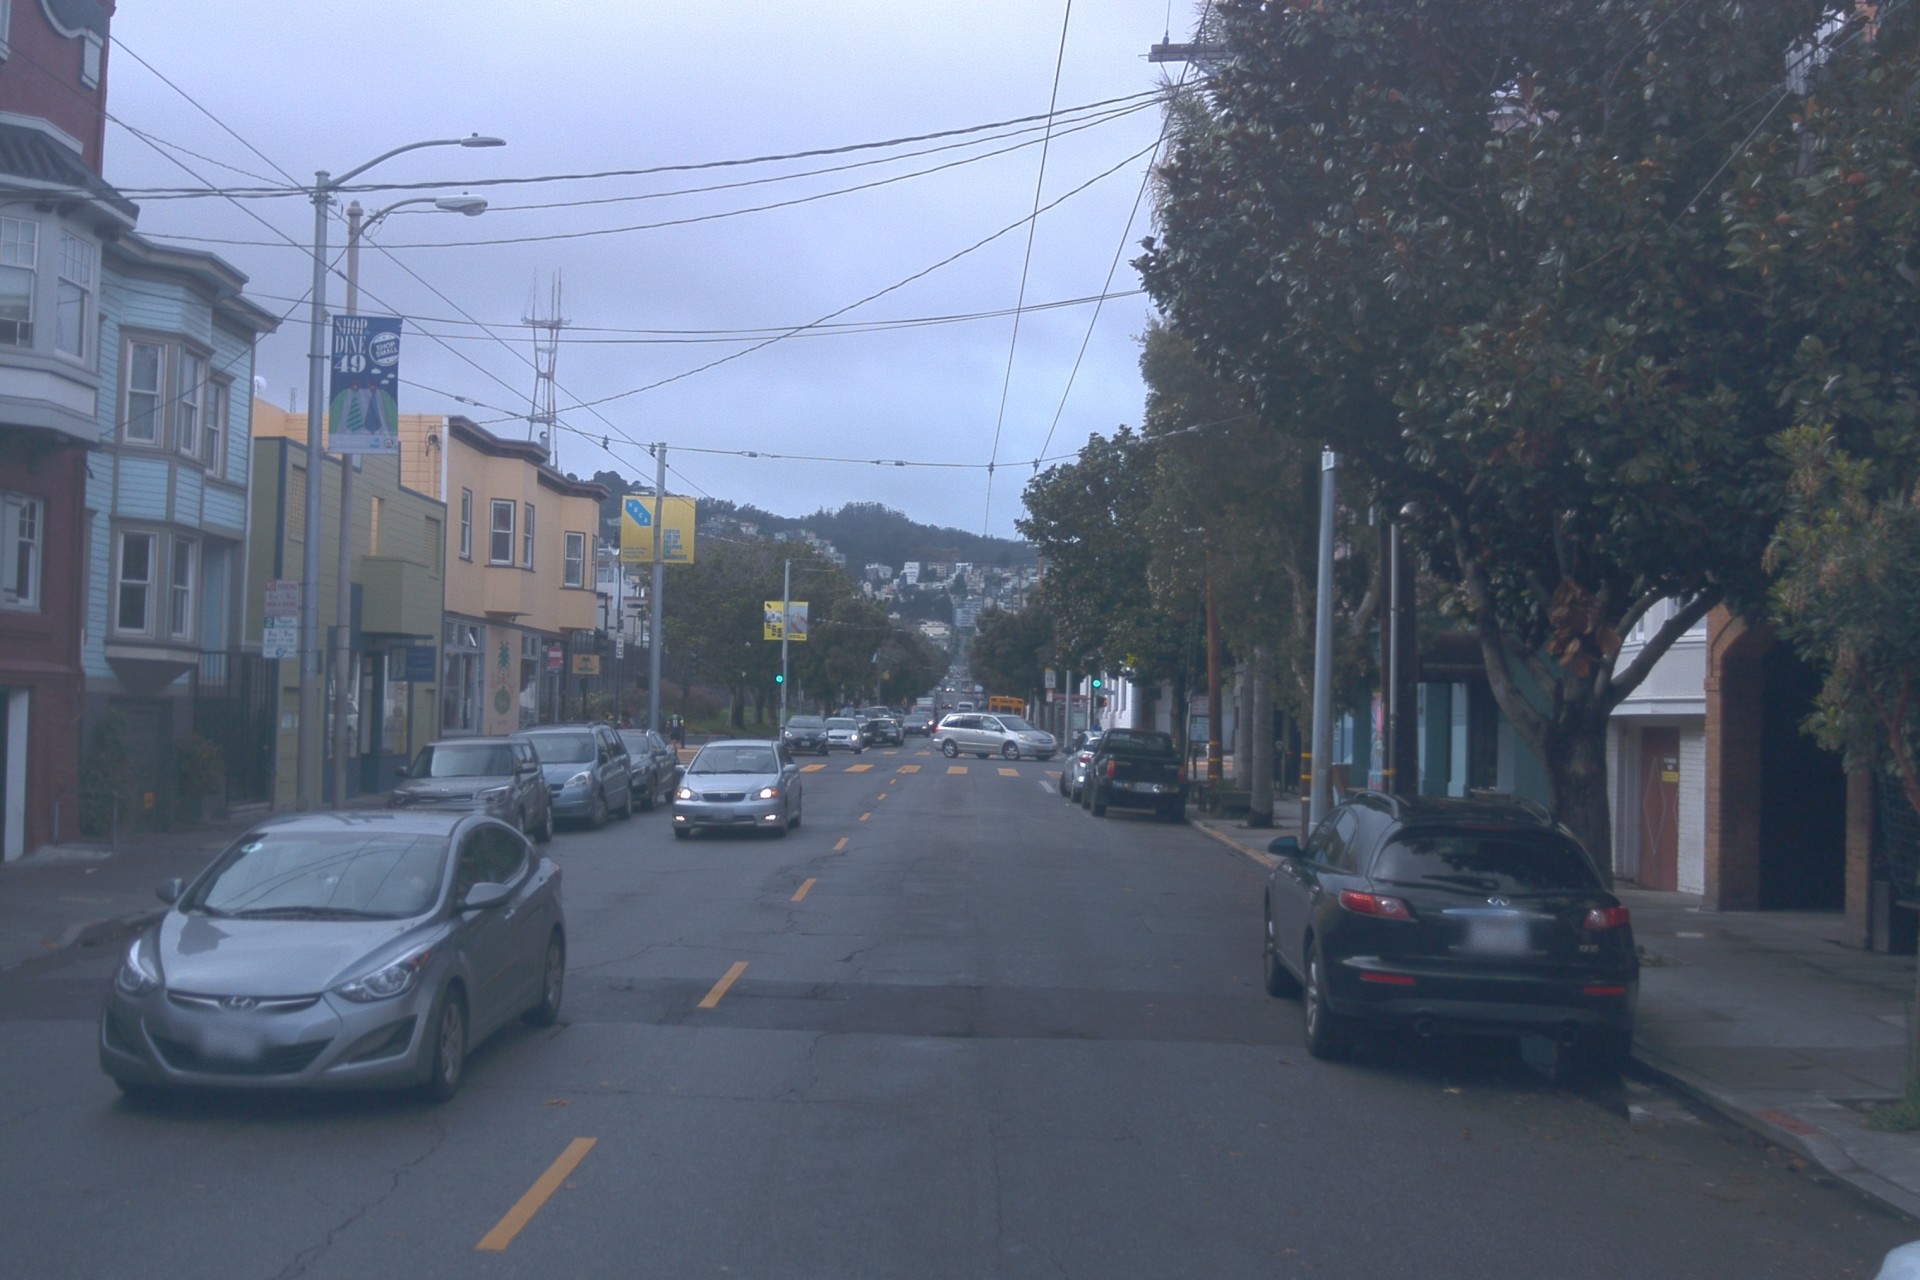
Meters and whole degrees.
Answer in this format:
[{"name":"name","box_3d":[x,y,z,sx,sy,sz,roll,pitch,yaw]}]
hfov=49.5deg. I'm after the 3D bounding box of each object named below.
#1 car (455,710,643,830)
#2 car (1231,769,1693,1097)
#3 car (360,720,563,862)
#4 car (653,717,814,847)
[{"name":"car","box_3d":[-6.858,2.128,35.363,2.260,1.810,5.101,1,-2,-2]},{"name":"car","box_3d":[3.191,1.824,14.337,2.176,1.670,4.765,1,-2,2]},{"name":"car","box_3d":[-6.971,2.072,29.578,2.048,1.800,4.148,1,-2,-3]},{"name":"car","box_3d":[-3.484,2.168,32.910,1.955,1.840,4.535,1,-2,1]}]
